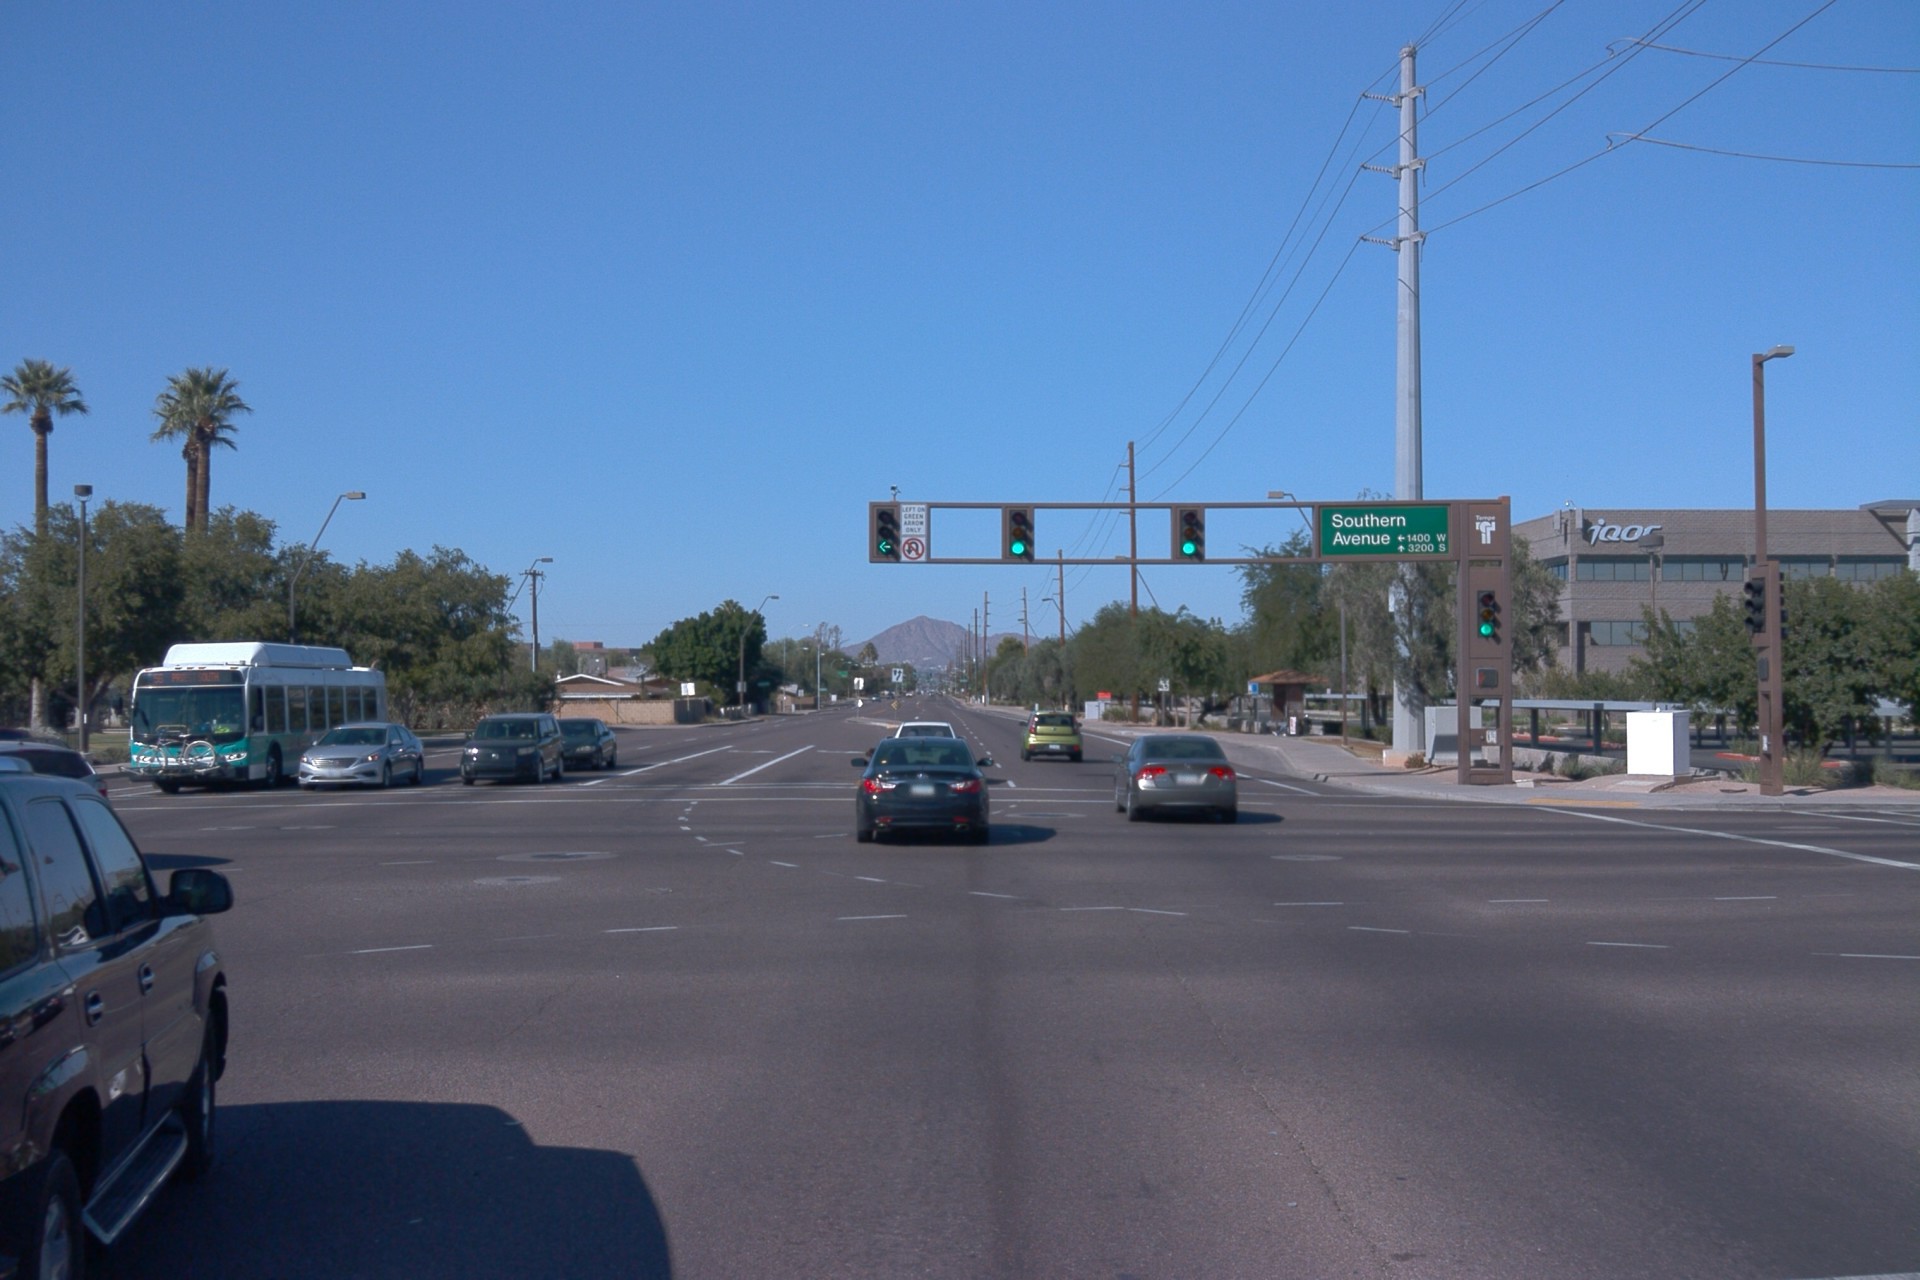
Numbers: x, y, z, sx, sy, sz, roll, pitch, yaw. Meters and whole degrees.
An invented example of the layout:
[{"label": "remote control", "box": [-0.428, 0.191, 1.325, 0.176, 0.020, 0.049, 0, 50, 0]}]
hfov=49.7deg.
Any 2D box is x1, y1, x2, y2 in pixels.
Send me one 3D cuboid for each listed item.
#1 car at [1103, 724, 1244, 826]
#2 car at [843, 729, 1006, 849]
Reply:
[{"label": "car", "box": [3.538, 2.231, 35.087, 1.907, 1.500, 4.574, 0, -1, 0]}, {"label": "car", "box": [-0.489, 2.070, 29.838, 2.157, 1.470, 4.806, 0, -1, 0]}]
